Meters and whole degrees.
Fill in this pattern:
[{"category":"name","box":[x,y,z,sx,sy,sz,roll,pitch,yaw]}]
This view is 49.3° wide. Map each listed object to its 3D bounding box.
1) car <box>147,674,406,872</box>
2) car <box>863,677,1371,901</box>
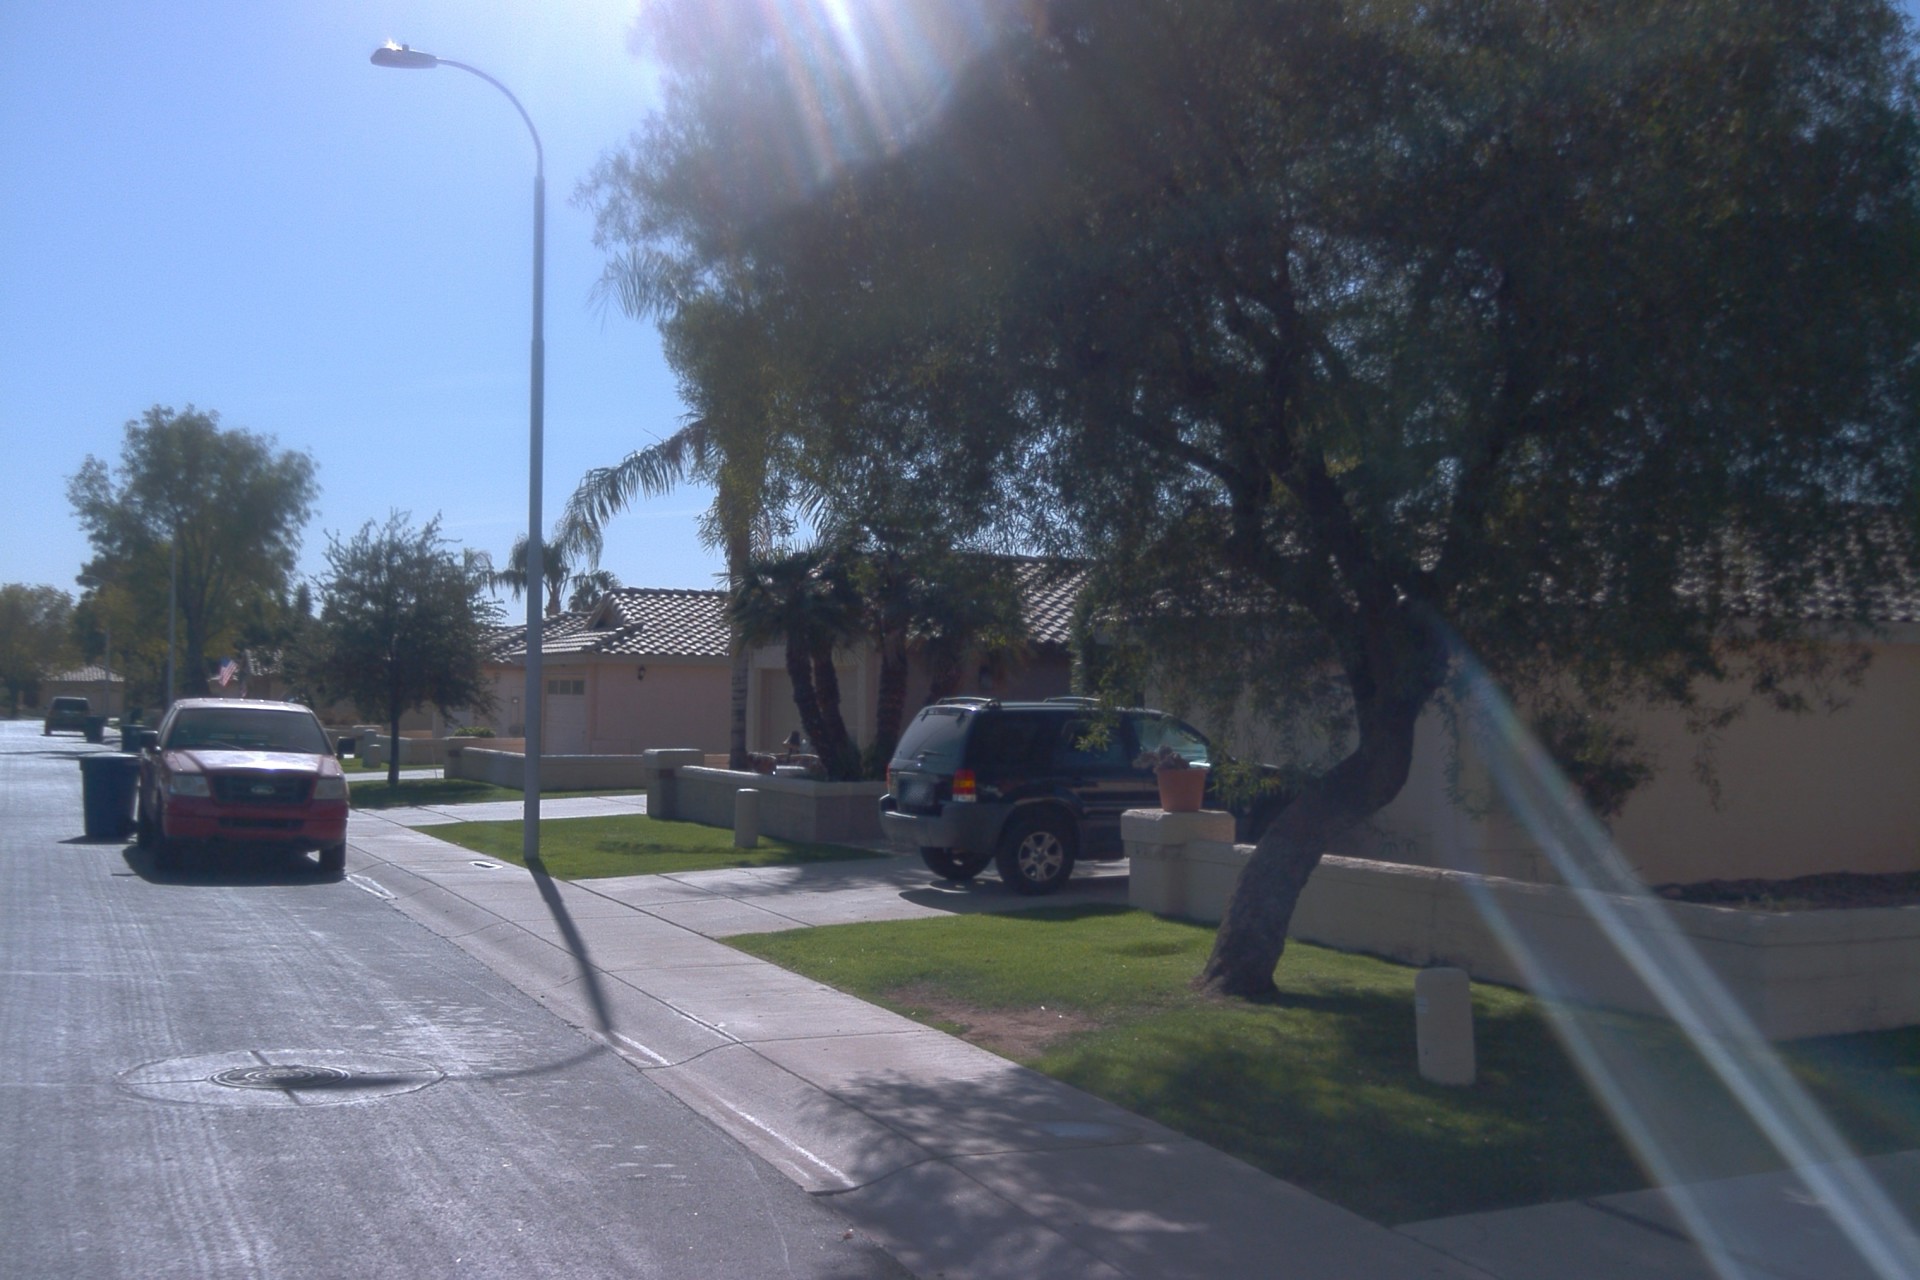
[{"category":"car","box":[-8.206,1.429,24.694,2.431,1.980,5.496,0,0,-23]},{"category":"car","box":[1.494,1.333,20.031,4.342,1.910,2.126,0,0,-25]}]
